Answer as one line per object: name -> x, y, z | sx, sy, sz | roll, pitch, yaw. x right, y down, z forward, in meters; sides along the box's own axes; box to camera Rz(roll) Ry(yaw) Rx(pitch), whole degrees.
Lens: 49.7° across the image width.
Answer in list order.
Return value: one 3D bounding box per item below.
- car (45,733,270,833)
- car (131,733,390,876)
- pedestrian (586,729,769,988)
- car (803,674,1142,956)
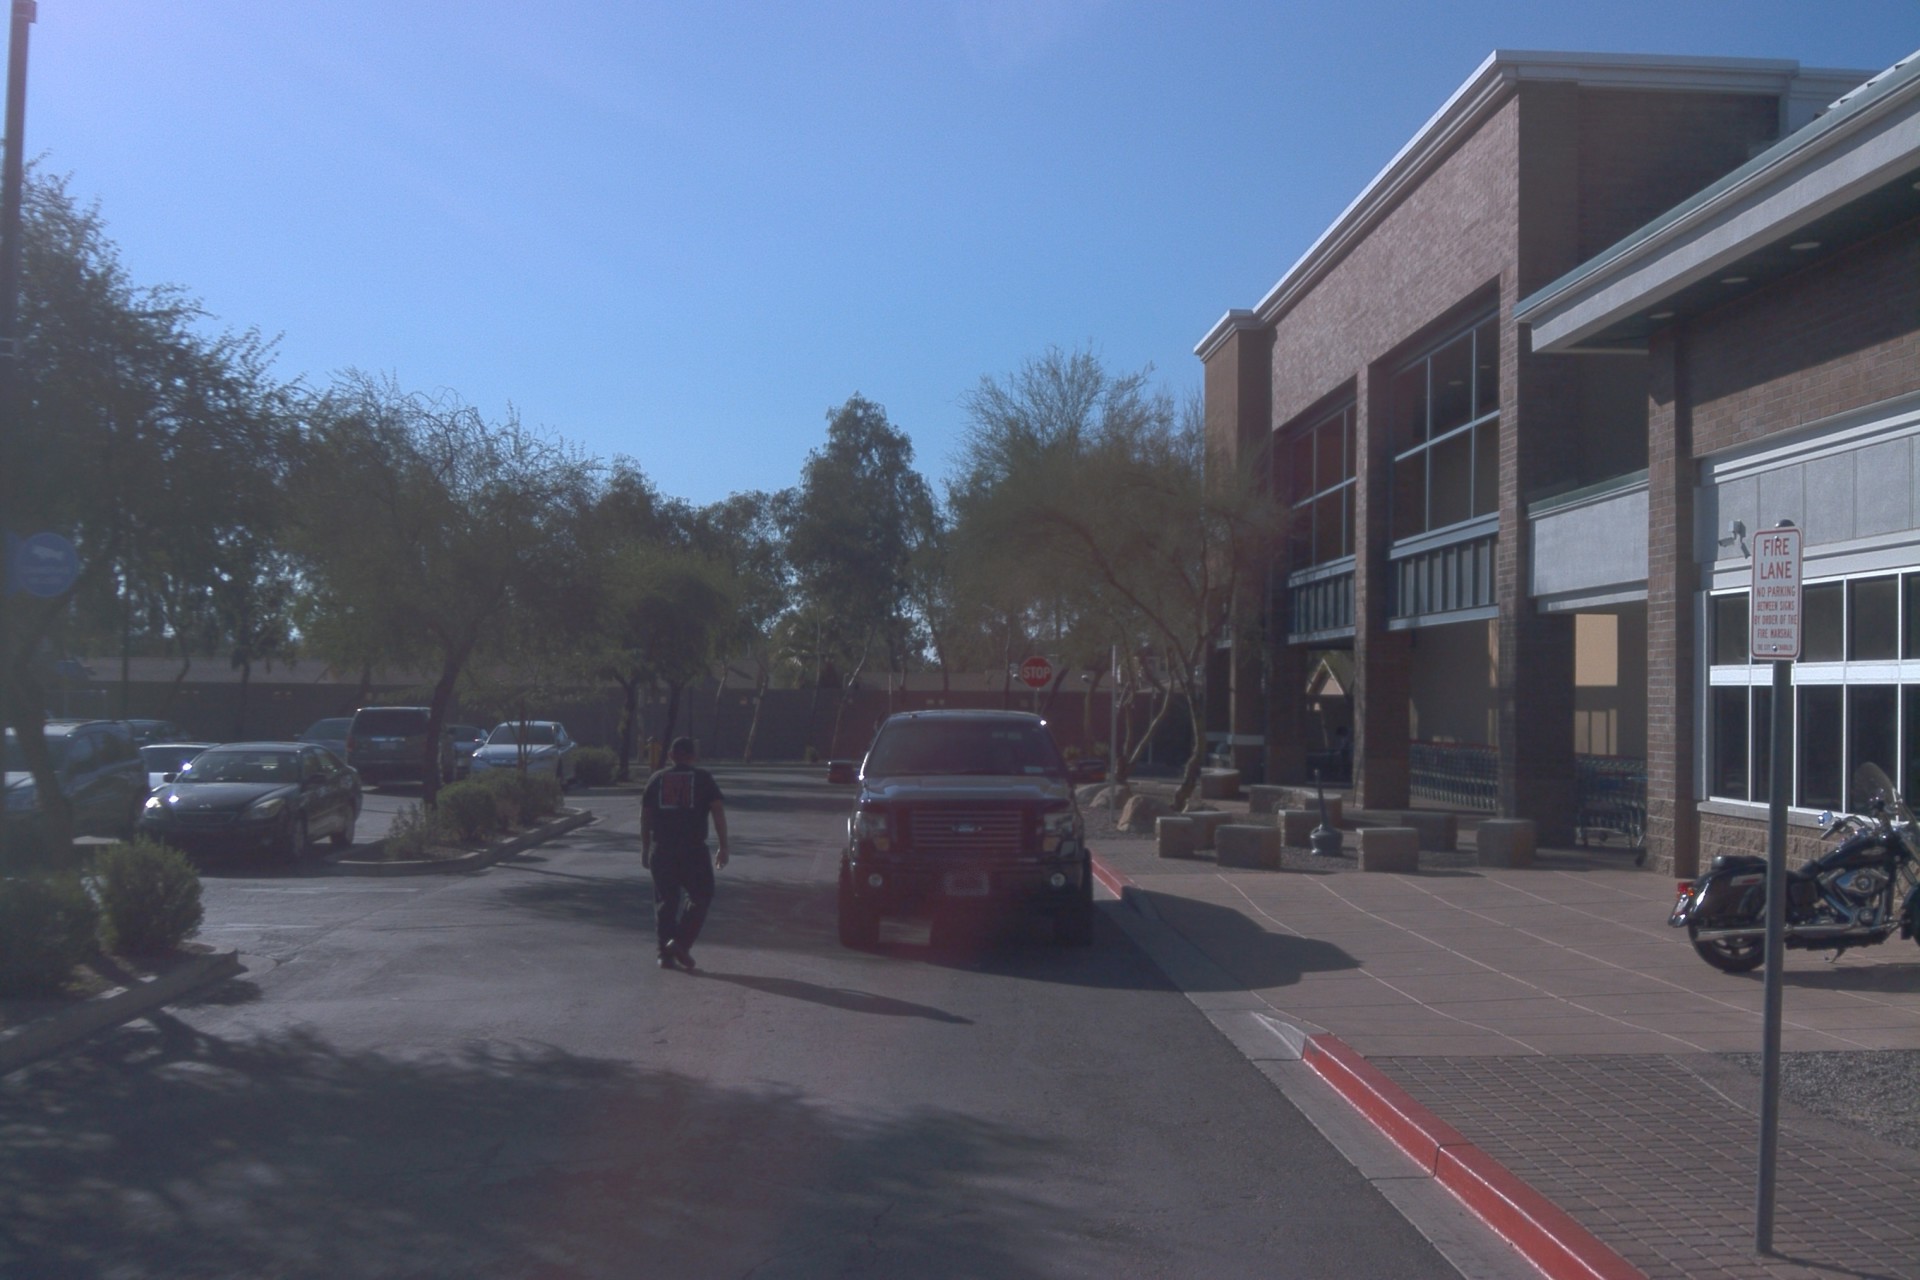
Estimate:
car -> -12.457, 2.185, 32.500 | 2.060, 1.350, 4.373 | 0, -1, -3
car -> -8.910, 2.051, 26.878 | 1.930, 1.560, 4.782 | 0, -1, -3
pedestrian -> -2.141, 1.630, 15.879 | 1.078, 1.870, 1.181 | -1, -1, 9
car -> 0.000, 1.444, 19.162 | 2.653, 2.190, 5.668 | 0, -1, -2
